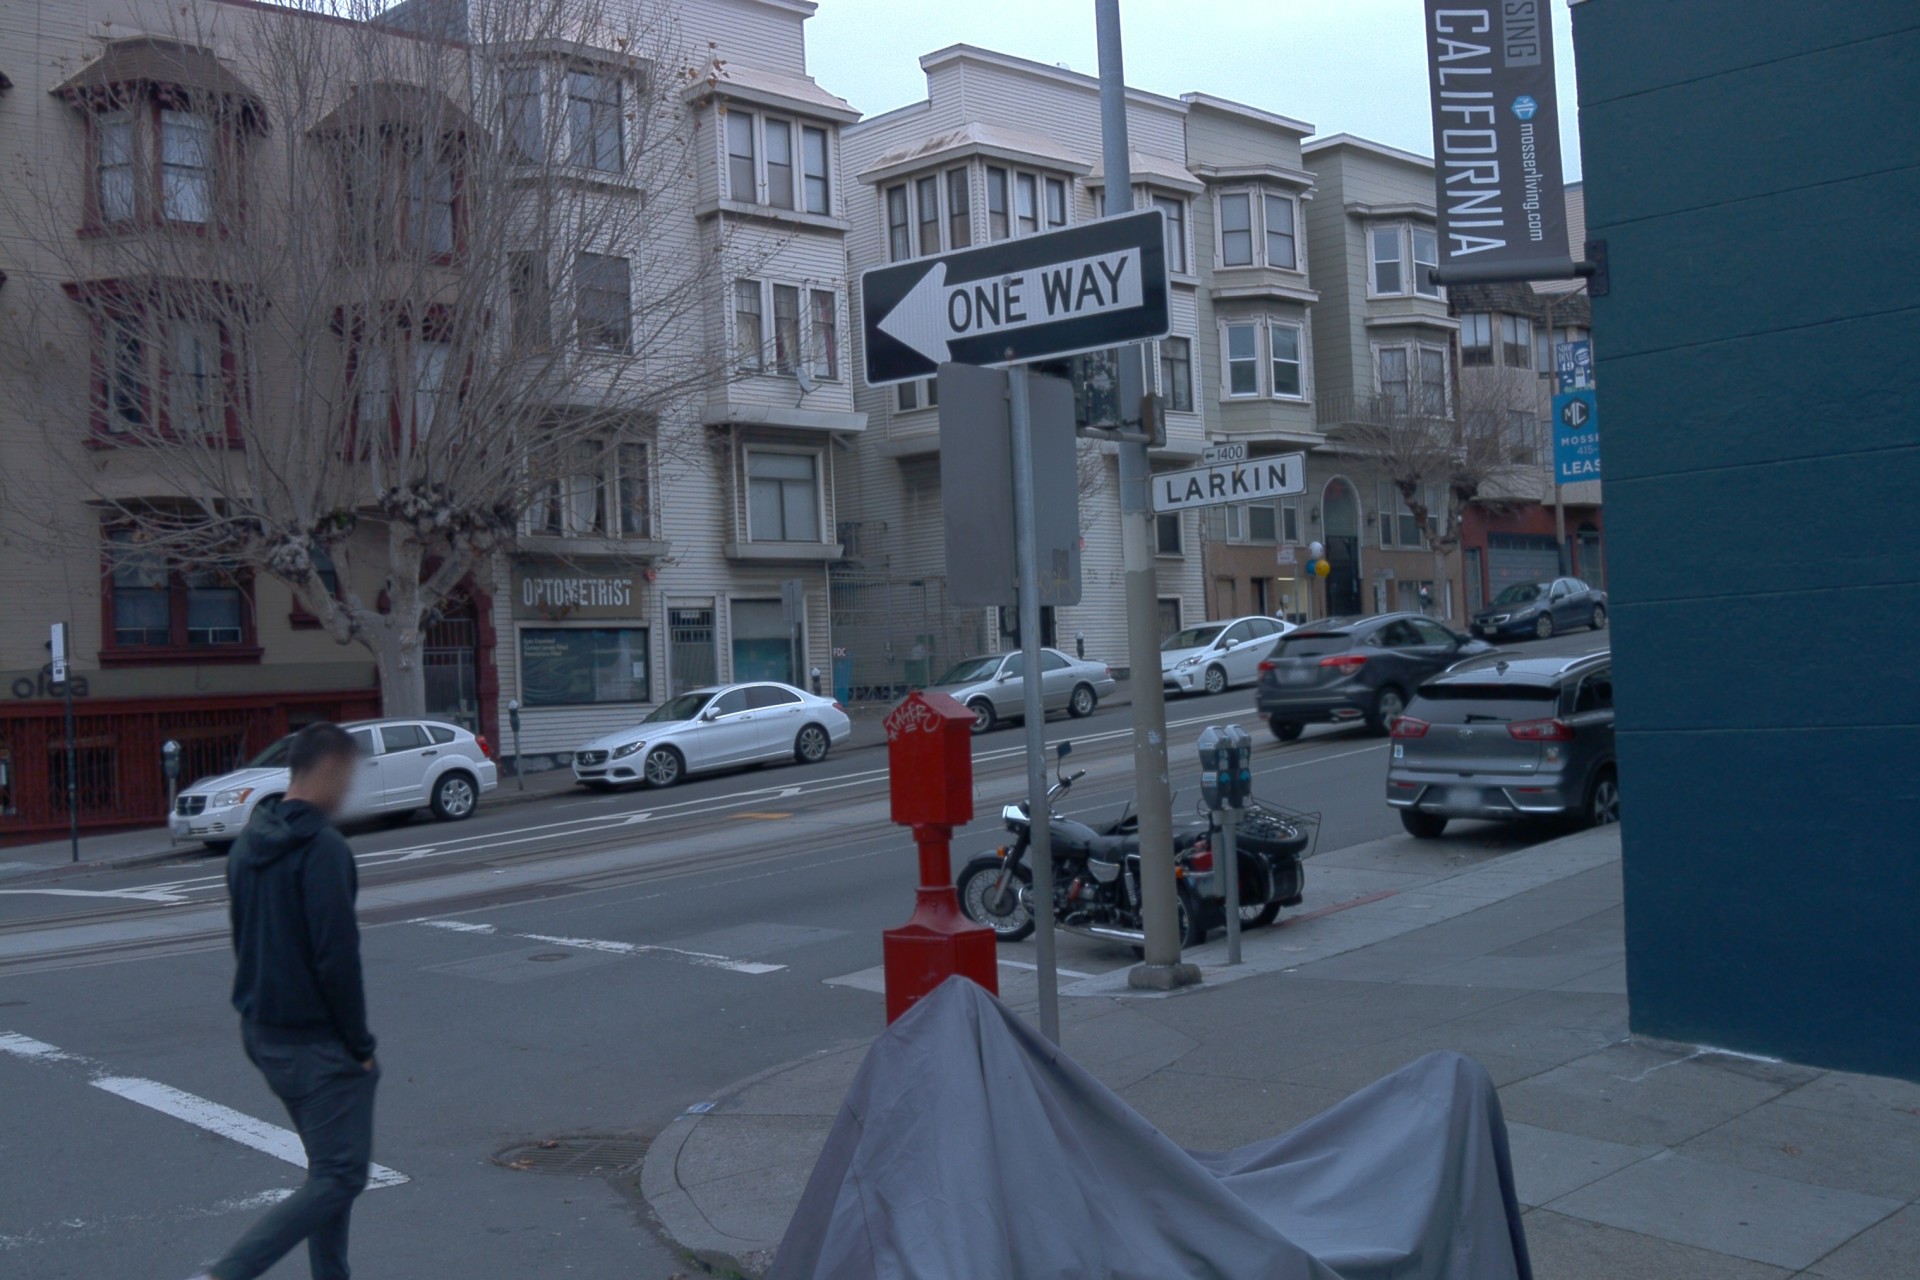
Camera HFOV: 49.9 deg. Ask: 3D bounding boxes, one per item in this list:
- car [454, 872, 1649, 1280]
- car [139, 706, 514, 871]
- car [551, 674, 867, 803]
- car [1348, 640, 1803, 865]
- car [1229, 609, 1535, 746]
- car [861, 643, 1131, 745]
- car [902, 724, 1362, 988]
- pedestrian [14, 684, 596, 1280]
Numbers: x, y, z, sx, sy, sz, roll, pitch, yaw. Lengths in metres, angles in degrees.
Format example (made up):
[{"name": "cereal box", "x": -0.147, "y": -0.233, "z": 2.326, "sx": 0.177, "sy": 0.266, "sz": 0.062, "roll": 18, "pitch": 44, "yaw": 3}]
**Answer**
[{"name": "car", "x": 0.332, "y": 1.393, "z": 4.286, "sx": 2.490, "sy": 1.520, "sz": 1.048, "roll": -1, "pitch": 1, "yaw": -44}, {"name": "car", "x": -8.482, "y": 1.918, "z": 27.920, "sx": 2.053, "sy": 1.847, "sz": 4.407, "roll": 1, "pitch": 1, "yaw": 44}, {"name": "car", "x": -3.872, "y": 1.465, "z": 32.361, "sx": 4.589, "sy": 1.757, "sz": 2.074, "roll": -1, "pitch": 1, "yaw": -44}, {"name": "car", "x": 5.645, "y": 0.883, "z": 18.584, "sx": 2.132, "sy": 1.717, "sz": 4.606, "roll": 0, "pitch": 1, "yaw": 42}, {"name": "car", "x": 5.826, "y": 0.446, "z": 28.231, "sx": 2.054, "sy": 1.720, "sz": 4.338, "roll": 1, "pitch": 1, "yaw": 45}, {"name": "car", "x": 0.712, "y": 0.918, "z": 37.121, "sx": 4.801, "sy": 1.657, "sz": 2.084, "roll": -1, "pitch": 1, "yaw": -45}, {"name": "car", "x": 1.133, "y": 1.378, "z": 14.055, "sx": 2.745, "sy": 1.460, "sz": 1.540, "roll": 0, "pitch": 1, "yaw": 42}, {"name": "pedestrian", "x": -1.940, "y": 1.190, "z": 6.240, "sx": 0.822, "sy": 2.066, "sz": 1.450, "roll": 1, "pitch": 1, "yaw": 42}]
